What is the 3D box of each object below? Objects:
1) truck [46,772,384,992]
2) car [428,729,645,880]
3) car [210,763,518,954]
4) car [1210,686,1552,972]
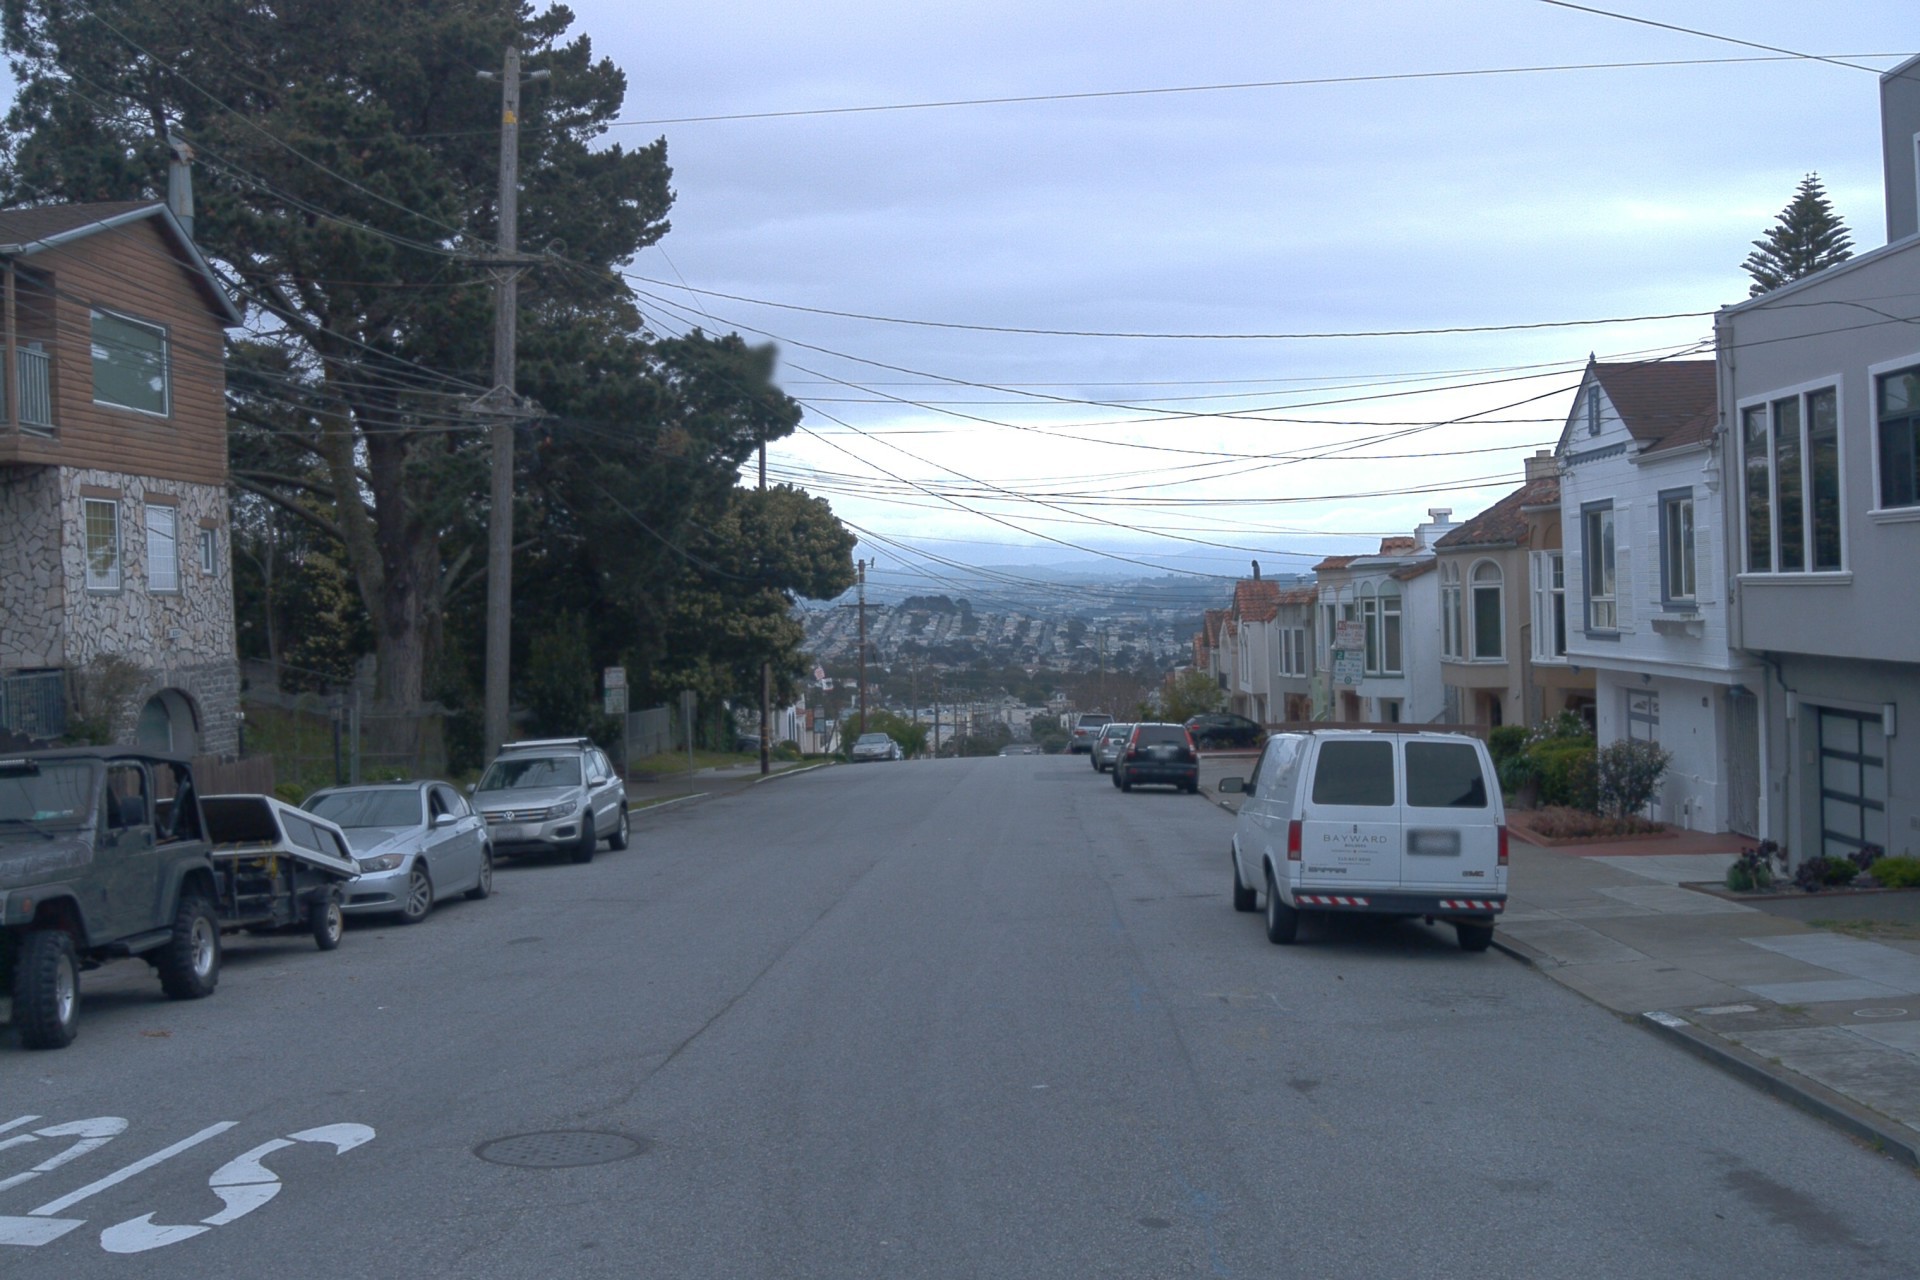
[{"bbox_3d":[-6.225,1.981,17.544,1.696,1.510,2.985,0,0,2],"label":"truck"},{"bbox_3d":[-6.000,2.295,29.734,2.107,1.830,4.357,0,0,2],"label":"car"},{"bbox_3d":[-6.091,2.187,21.648,1.979,1.530,4.513,0,0,-1],"label":"car"},{"bbox_3d":[3.708,1.586,19.153,2.330,2.195,4.904,0,0,2],"label":"car"}]
